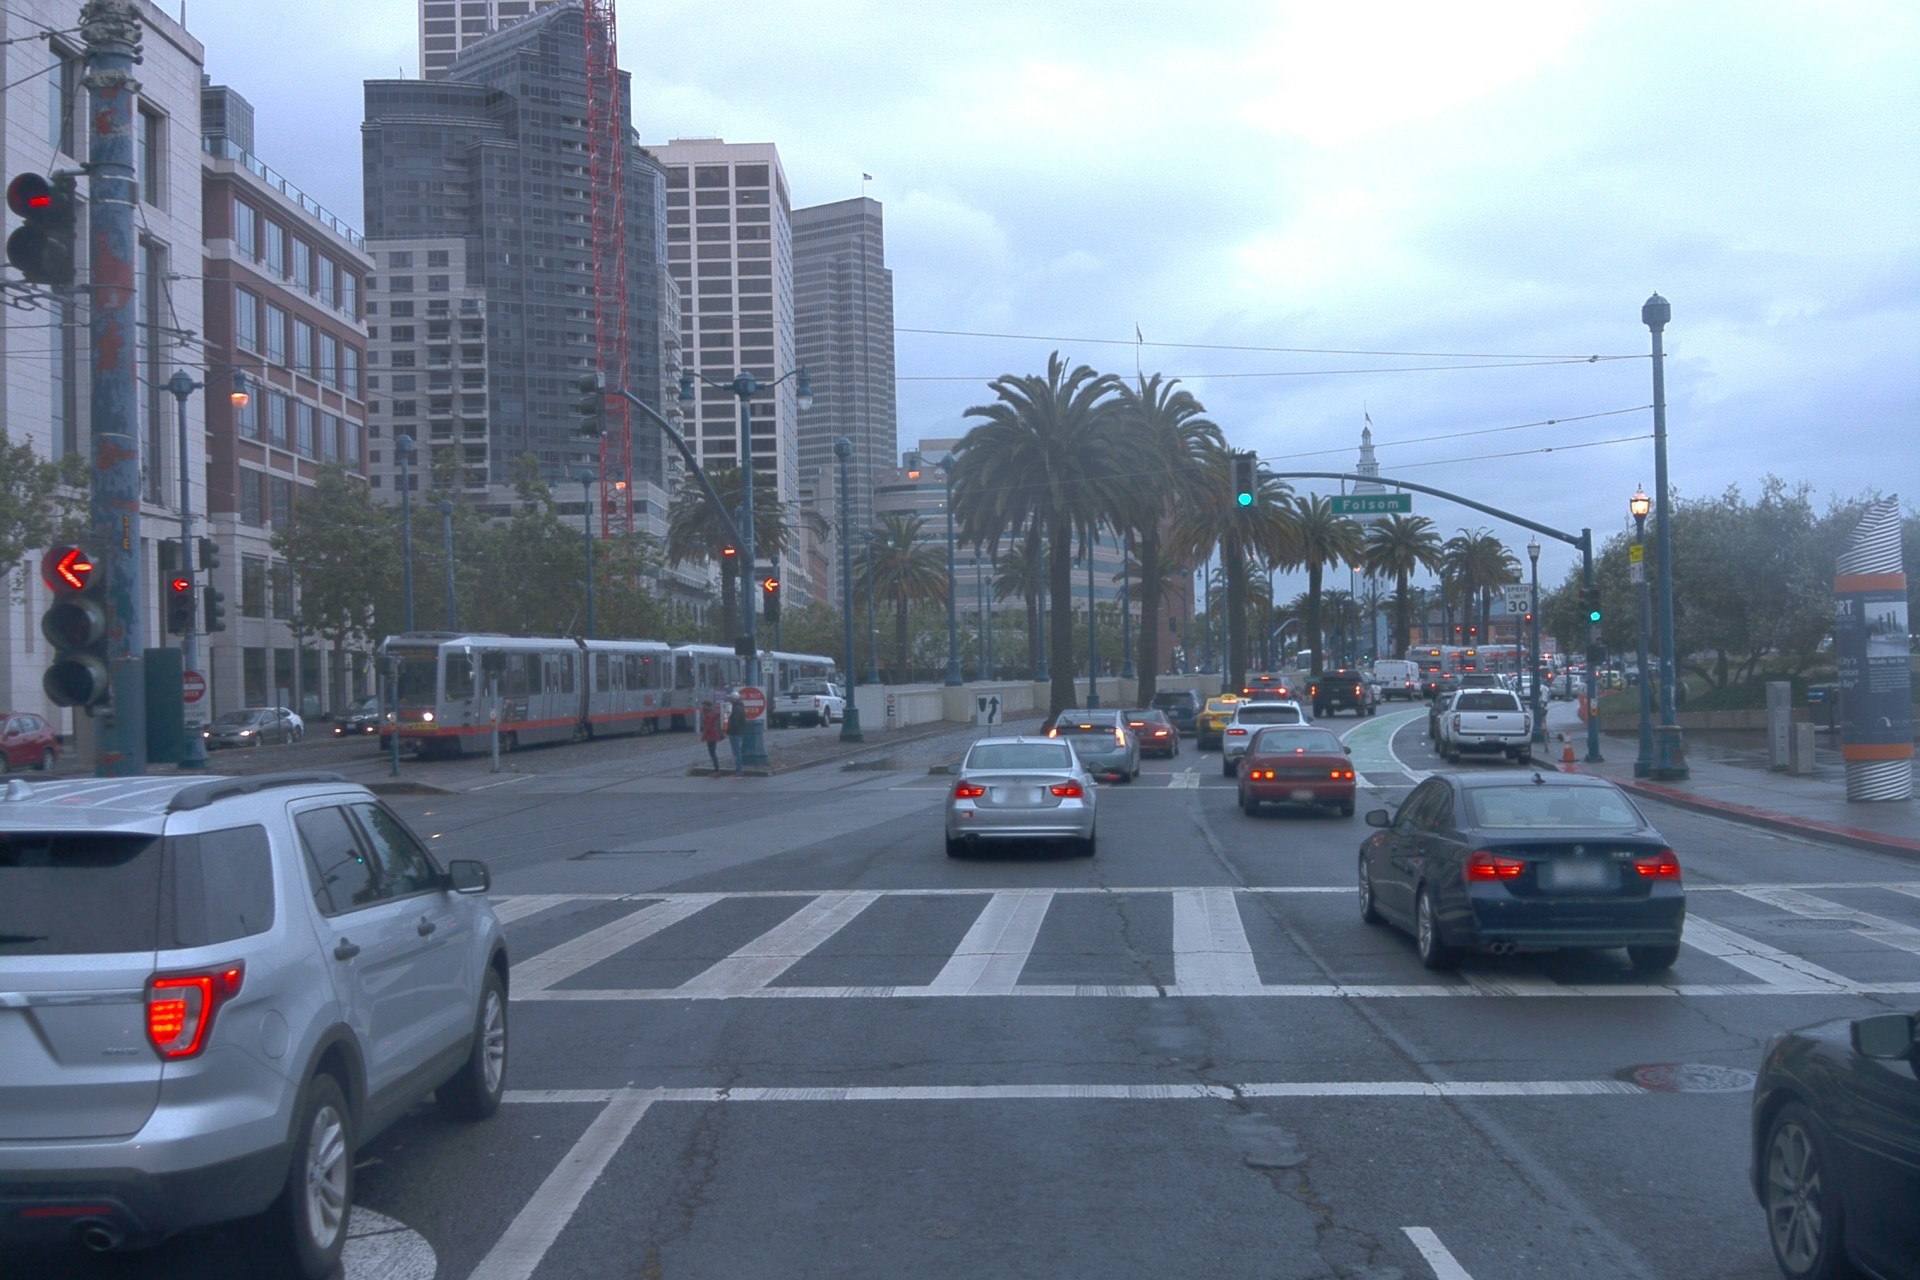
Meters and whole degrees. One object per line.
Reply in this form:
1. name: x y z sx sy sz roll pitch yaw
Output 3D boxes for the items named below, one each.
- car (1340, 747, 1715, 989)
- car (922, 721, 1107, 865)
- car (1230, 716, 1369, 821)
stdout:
1. car: 4.203 1.642 16.088 1.869 1.450 4.344 0 -1 2
2. car: 0.783 1.831 25.873 2.067 1.510 4.626 0 -1 4
3. car: 5.258 1.962 32.555 1.923 1.450 3.945 0 -1 6
